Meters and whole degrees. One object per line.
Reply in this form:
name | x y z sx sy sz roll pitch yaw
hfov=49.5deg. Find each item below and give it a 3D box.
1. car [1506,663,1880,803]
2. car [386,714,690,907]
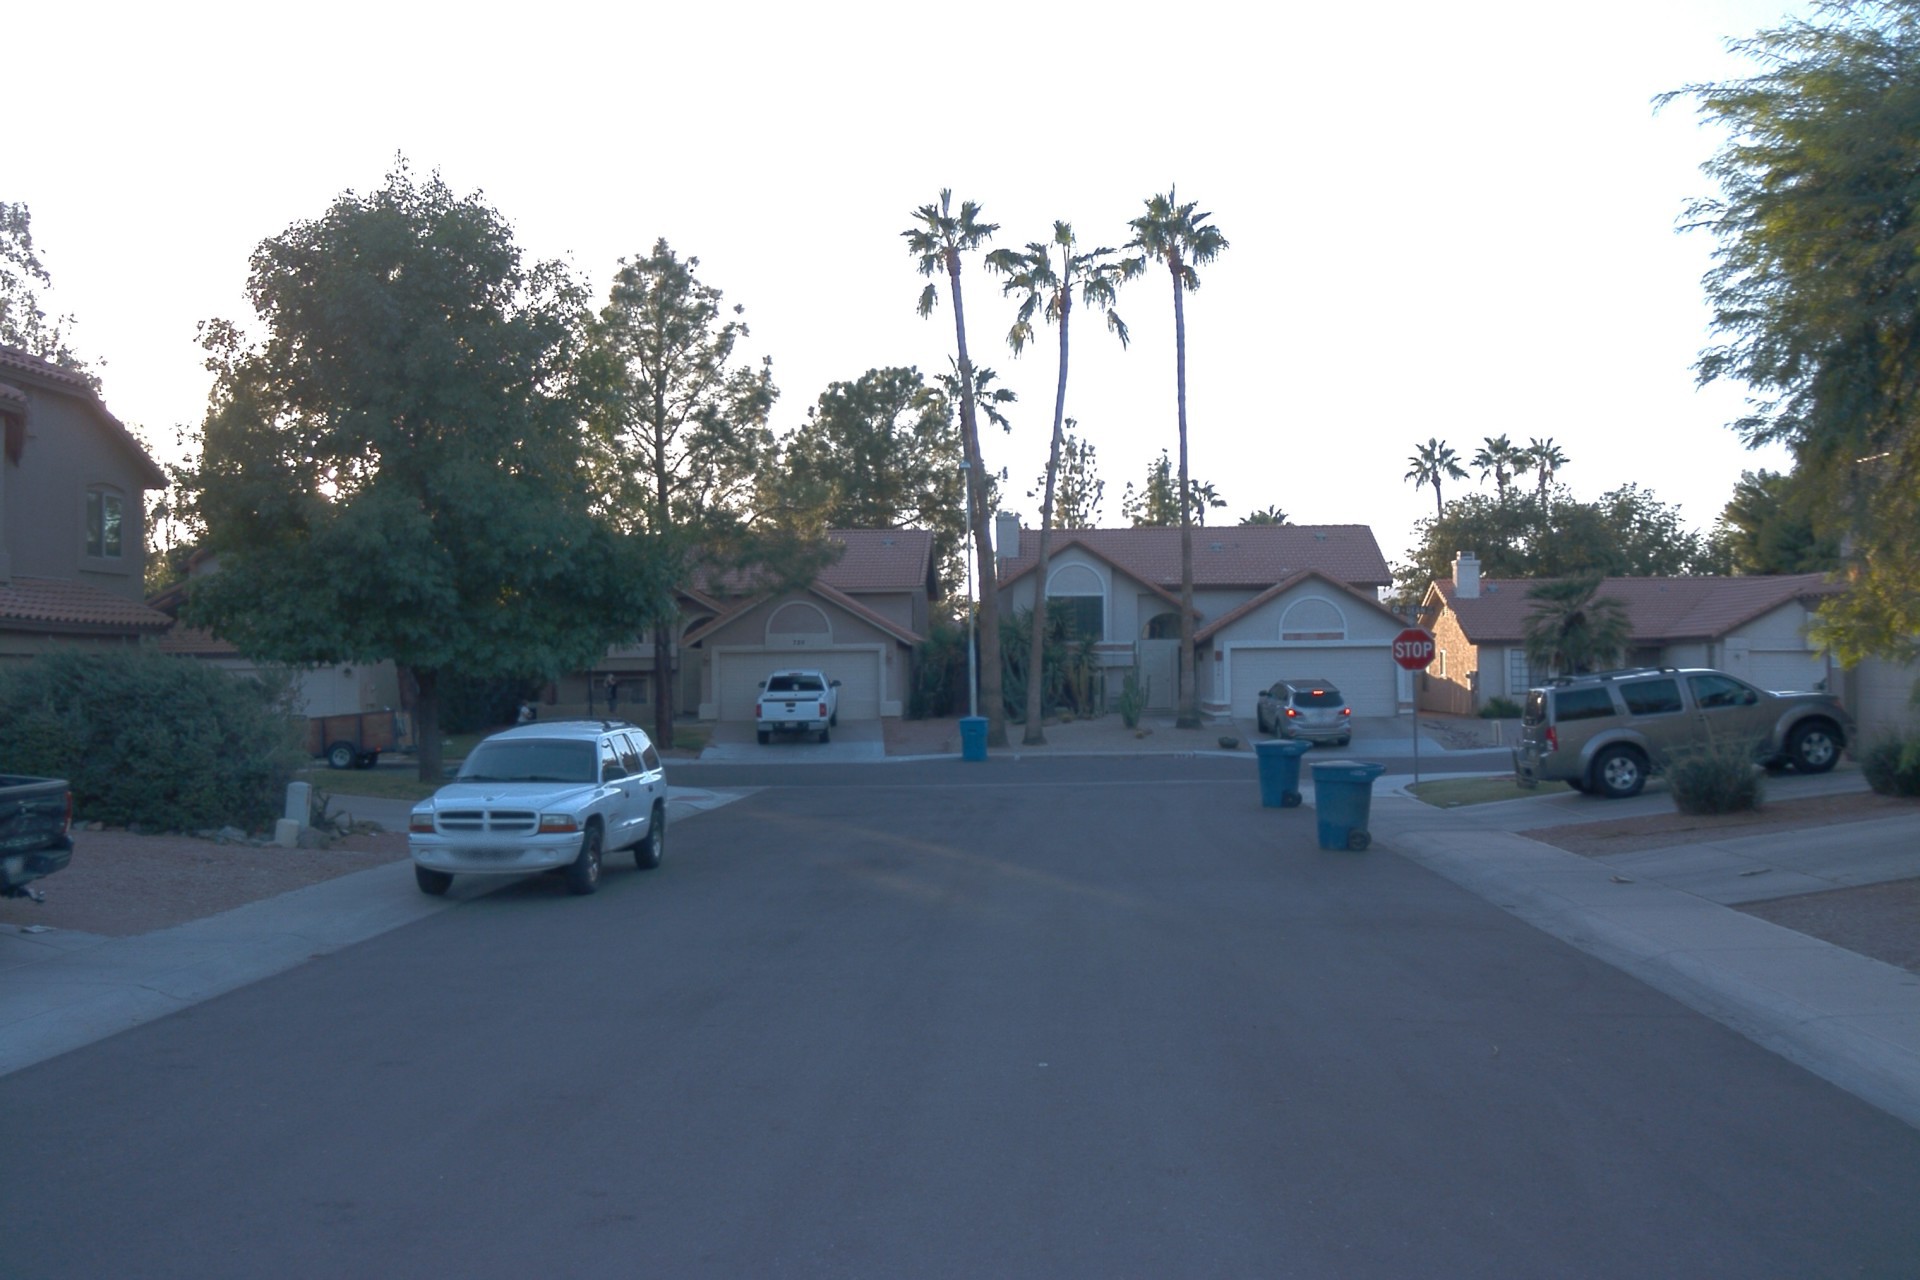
car | 10.738 1.351 30.763 4.769 1.980 2.134 0 -1 1
car | -4.501 1.770 23.032 2.045 1.830 4.911 0 -1 4
